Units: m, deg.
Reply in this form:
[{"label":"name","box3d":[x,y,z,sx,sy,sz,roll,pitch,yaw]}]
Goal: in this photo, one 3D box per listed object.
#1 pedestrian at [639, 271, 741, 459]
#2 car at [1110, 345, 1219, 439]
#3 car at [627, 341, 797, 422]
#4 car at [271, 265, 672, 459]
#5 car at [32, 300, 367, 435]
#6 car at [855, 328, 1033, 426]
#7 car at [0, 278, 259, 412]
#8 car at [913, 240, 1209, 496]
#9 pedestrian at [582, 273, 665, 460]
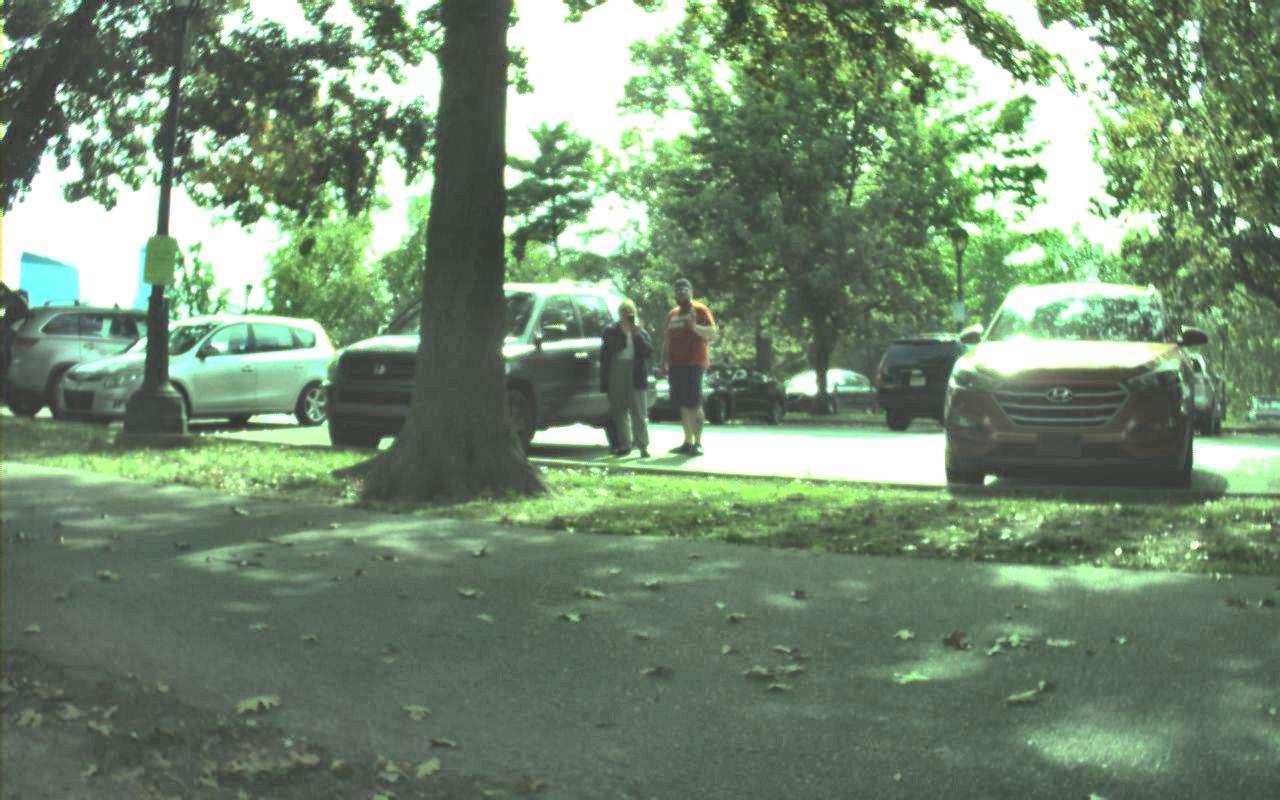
[{"label":"pedestrian","box3d":[0.520,-0.360,13.091,0.766,1.869,0.759,1,0,32]},{"label":"car","box3d":[10.478,-0.146,23.347,1.968,1.688,4.486,1,1,28]},{"label":"car","box3d":[1.711,-0.433,28.412,1.921,1.661,4.473,1,1,31]},{"label":"car","box3d":[-1.530,-0.370,12.840,1.968,1.616,4.465,1,1,27]},{"label":"car","box3d":[-5.876,-0.406,16.081,1.928,1.590,4.536,1,1,31]},{"label":"car","box3d":[6.388,-0.469,25.553,2.013,1.820,4.619,1,1,38]},{"label":"car","box3d":[-8.109,-0.755,17.615,1.989,1.832,4.603,1,1,37]},{"label":"car","box3d":[3.697,-0.246,9.812,1.973,1.623,4.534,1,1,26]},{"label":"pedestrian","box3d":[-0.176,-0.332,12.745,0.774,1.815,0.756,0,0,-4]}]
